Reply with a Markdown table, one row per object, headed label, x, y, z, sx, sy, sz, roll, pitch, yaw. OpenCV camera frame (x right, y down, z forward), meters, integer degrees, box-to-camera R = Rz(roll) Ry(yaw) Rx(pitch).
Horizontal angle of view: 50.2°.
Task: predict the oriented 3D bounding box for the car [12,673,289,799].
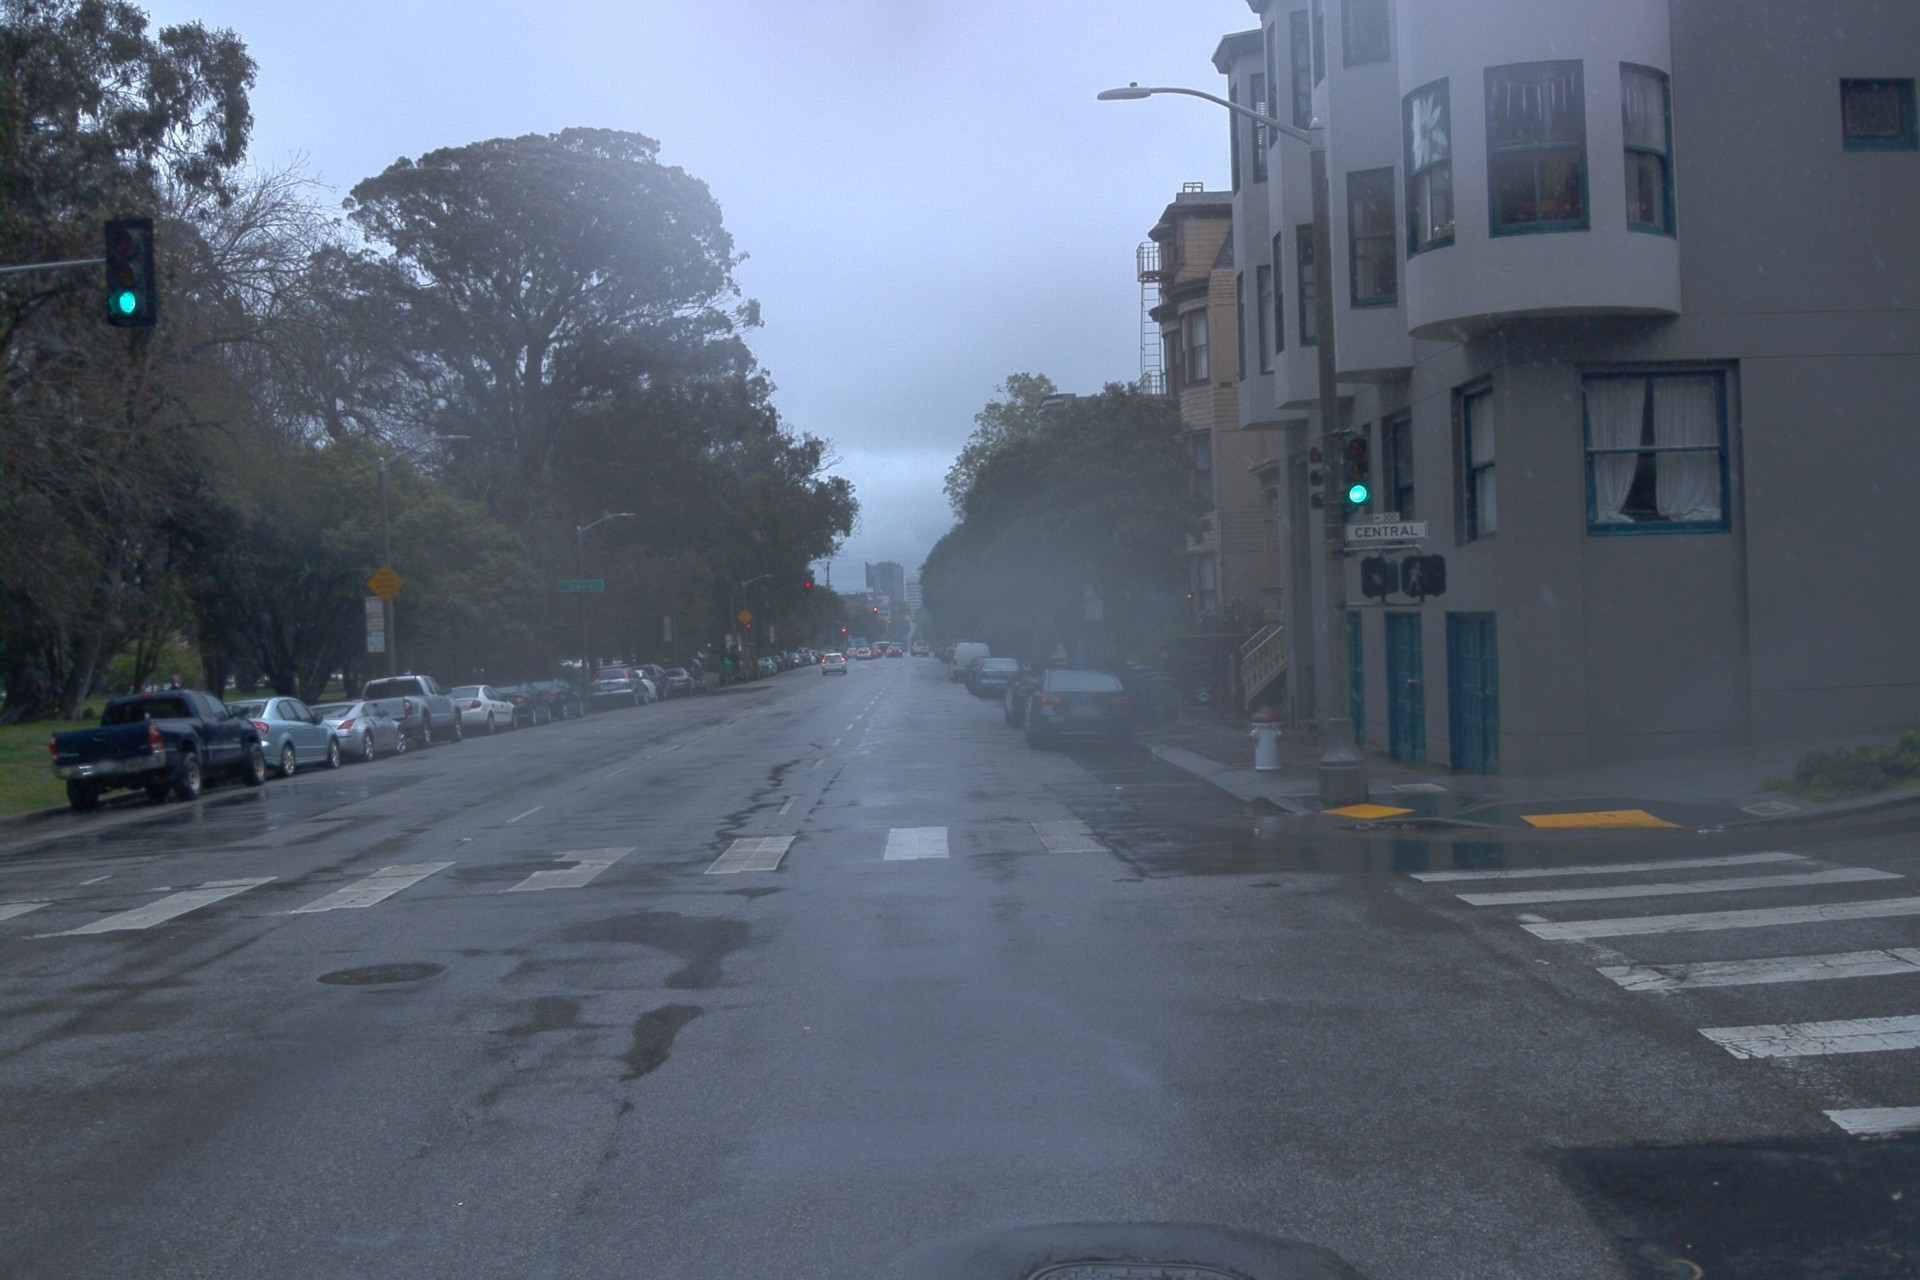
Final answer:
| label | x | y | z | sx | sy | sz | roll | pitch | yaw |
| --- | --- | --- | --- | --- | --- | --- | --- | --- | --- |
| car | -12.933 | 1.474 | 33.221 | 2.416 | 1.750 | 5.444 | 1 | 0 | -1 |

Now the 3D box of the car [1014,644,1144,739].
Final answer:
| label | x | y | z | sx | sy | sz | roll | pitch | yaw |
| --- | --- | --- | --- | --- | --- | --- | --- | --- | --- |
| car | 2.138 | 0.902 | 37.999 | 2.087 | 1.620 | 4.489 | 1 | 0 | -1 |
